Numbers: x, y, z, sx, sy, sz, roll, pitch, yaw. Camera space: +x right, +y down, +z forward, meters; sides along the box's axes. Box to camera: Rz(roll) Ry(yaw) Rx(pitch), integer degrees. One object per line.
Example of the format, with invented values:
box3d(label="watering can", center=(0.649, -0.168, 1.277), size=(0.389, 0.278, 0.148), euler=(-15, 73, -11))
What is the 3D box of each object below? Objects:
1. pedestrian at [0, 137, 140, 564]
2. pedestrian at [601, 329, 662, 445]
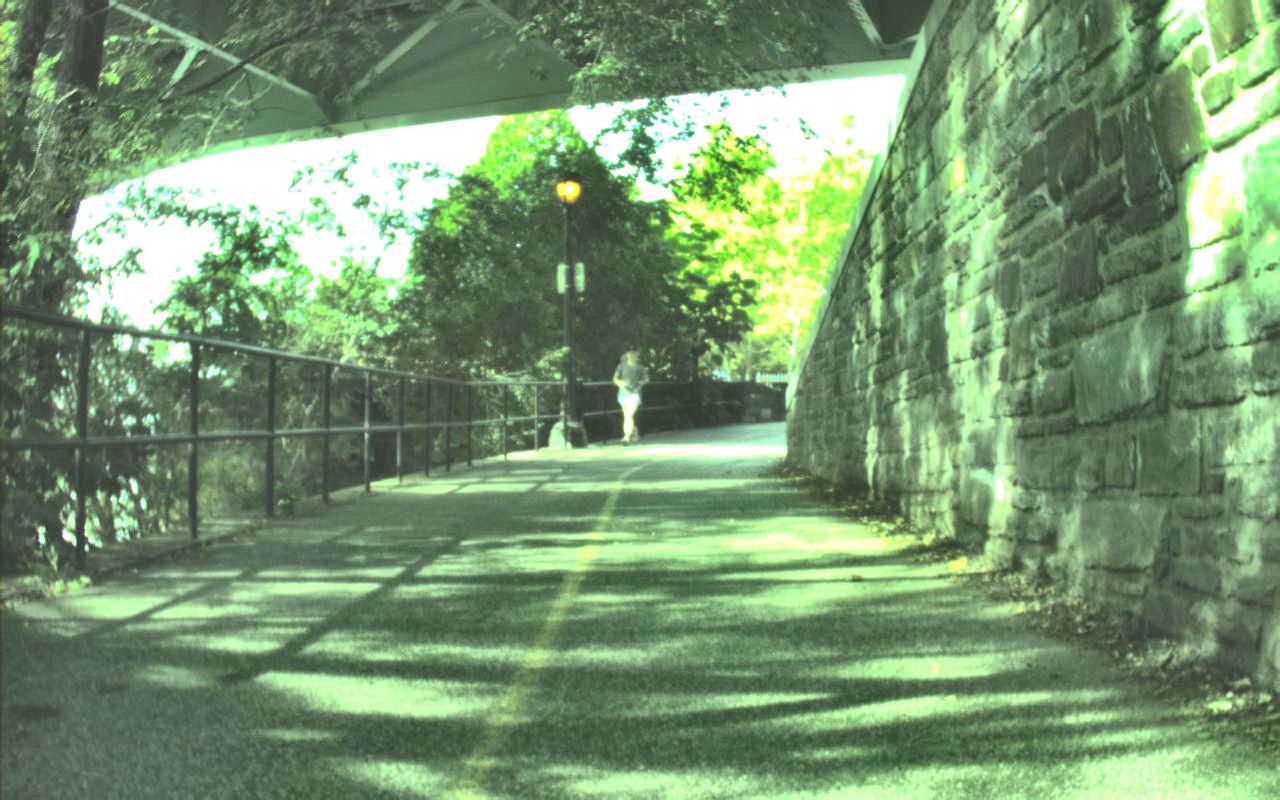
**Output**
box3d(label="pedestrian", center=(-2.700, -0.199, 5.007), size=(0.784, 1.748, 0.888), euler=(0, 0, -36))
box3d(label="pedestrian", center=(-0.123, -0.216, 20.173), size=(0.799, 1.816, 0.889), euler=(0, 0, 10))
